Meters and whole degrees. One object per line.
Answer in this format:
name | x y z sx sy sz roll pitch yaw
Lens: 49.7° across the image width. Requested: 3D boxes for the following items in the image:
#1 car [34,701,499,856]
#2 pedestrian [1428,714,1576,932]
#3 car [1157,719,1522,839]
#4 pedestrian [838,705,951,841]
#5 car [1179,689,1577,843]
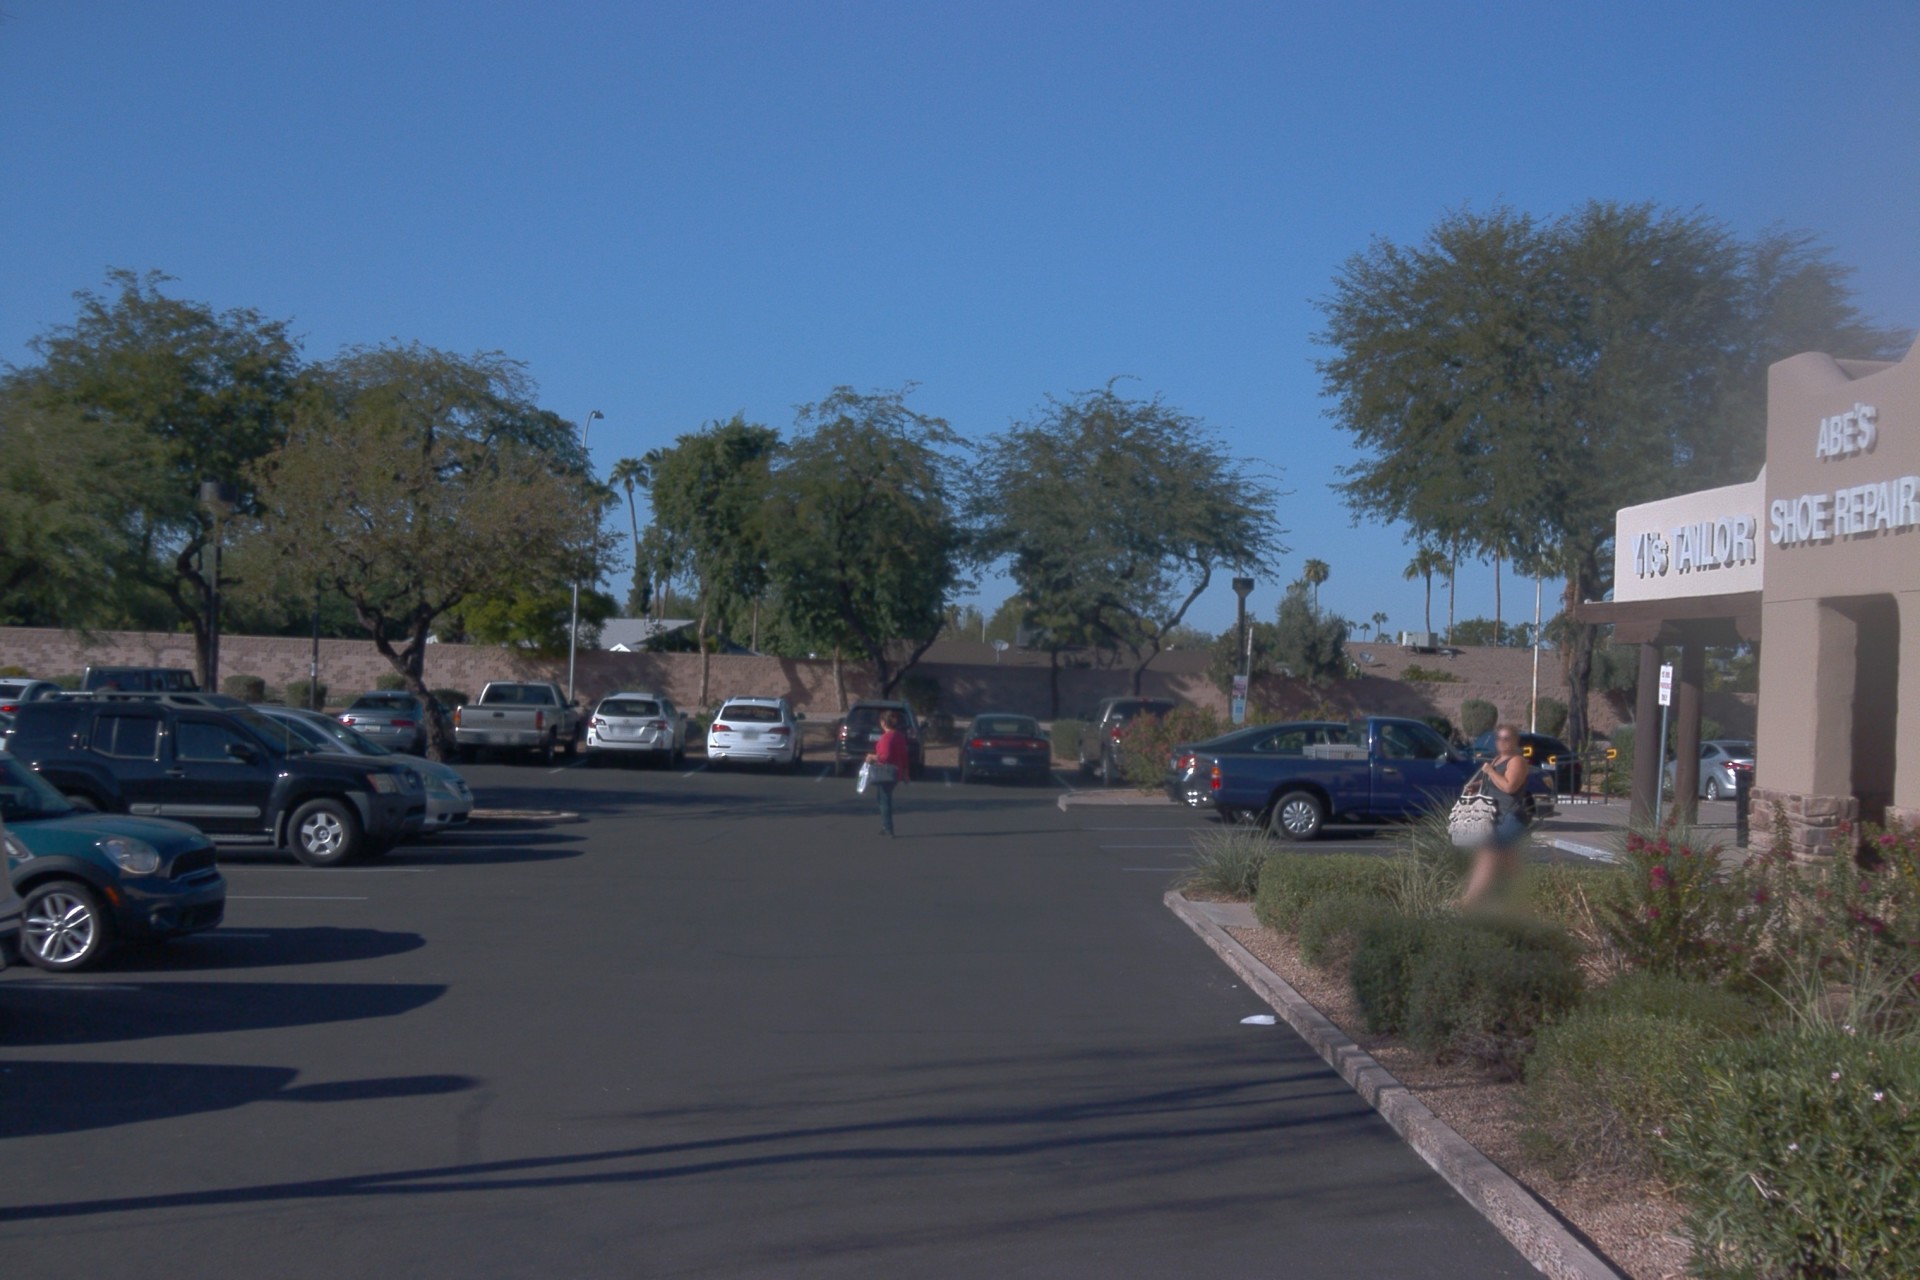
car | -8.504 1.689 25.861 5.061 1.780 2.238 1 -1 -4
pedestrian | 4.523 1.507 17.363 0.962 1.750 0.926 1 -1 -1
car | 5.343 1.956 29.617 4.781 1.570 2.041 1 -1 -3
pedestrian | -0.833 1.678 26.572 1.039 1.680 0.982 0 -1 36
car | 5.328 1.595 26.891 4.685 1.860 2.090 1 -1 -2
